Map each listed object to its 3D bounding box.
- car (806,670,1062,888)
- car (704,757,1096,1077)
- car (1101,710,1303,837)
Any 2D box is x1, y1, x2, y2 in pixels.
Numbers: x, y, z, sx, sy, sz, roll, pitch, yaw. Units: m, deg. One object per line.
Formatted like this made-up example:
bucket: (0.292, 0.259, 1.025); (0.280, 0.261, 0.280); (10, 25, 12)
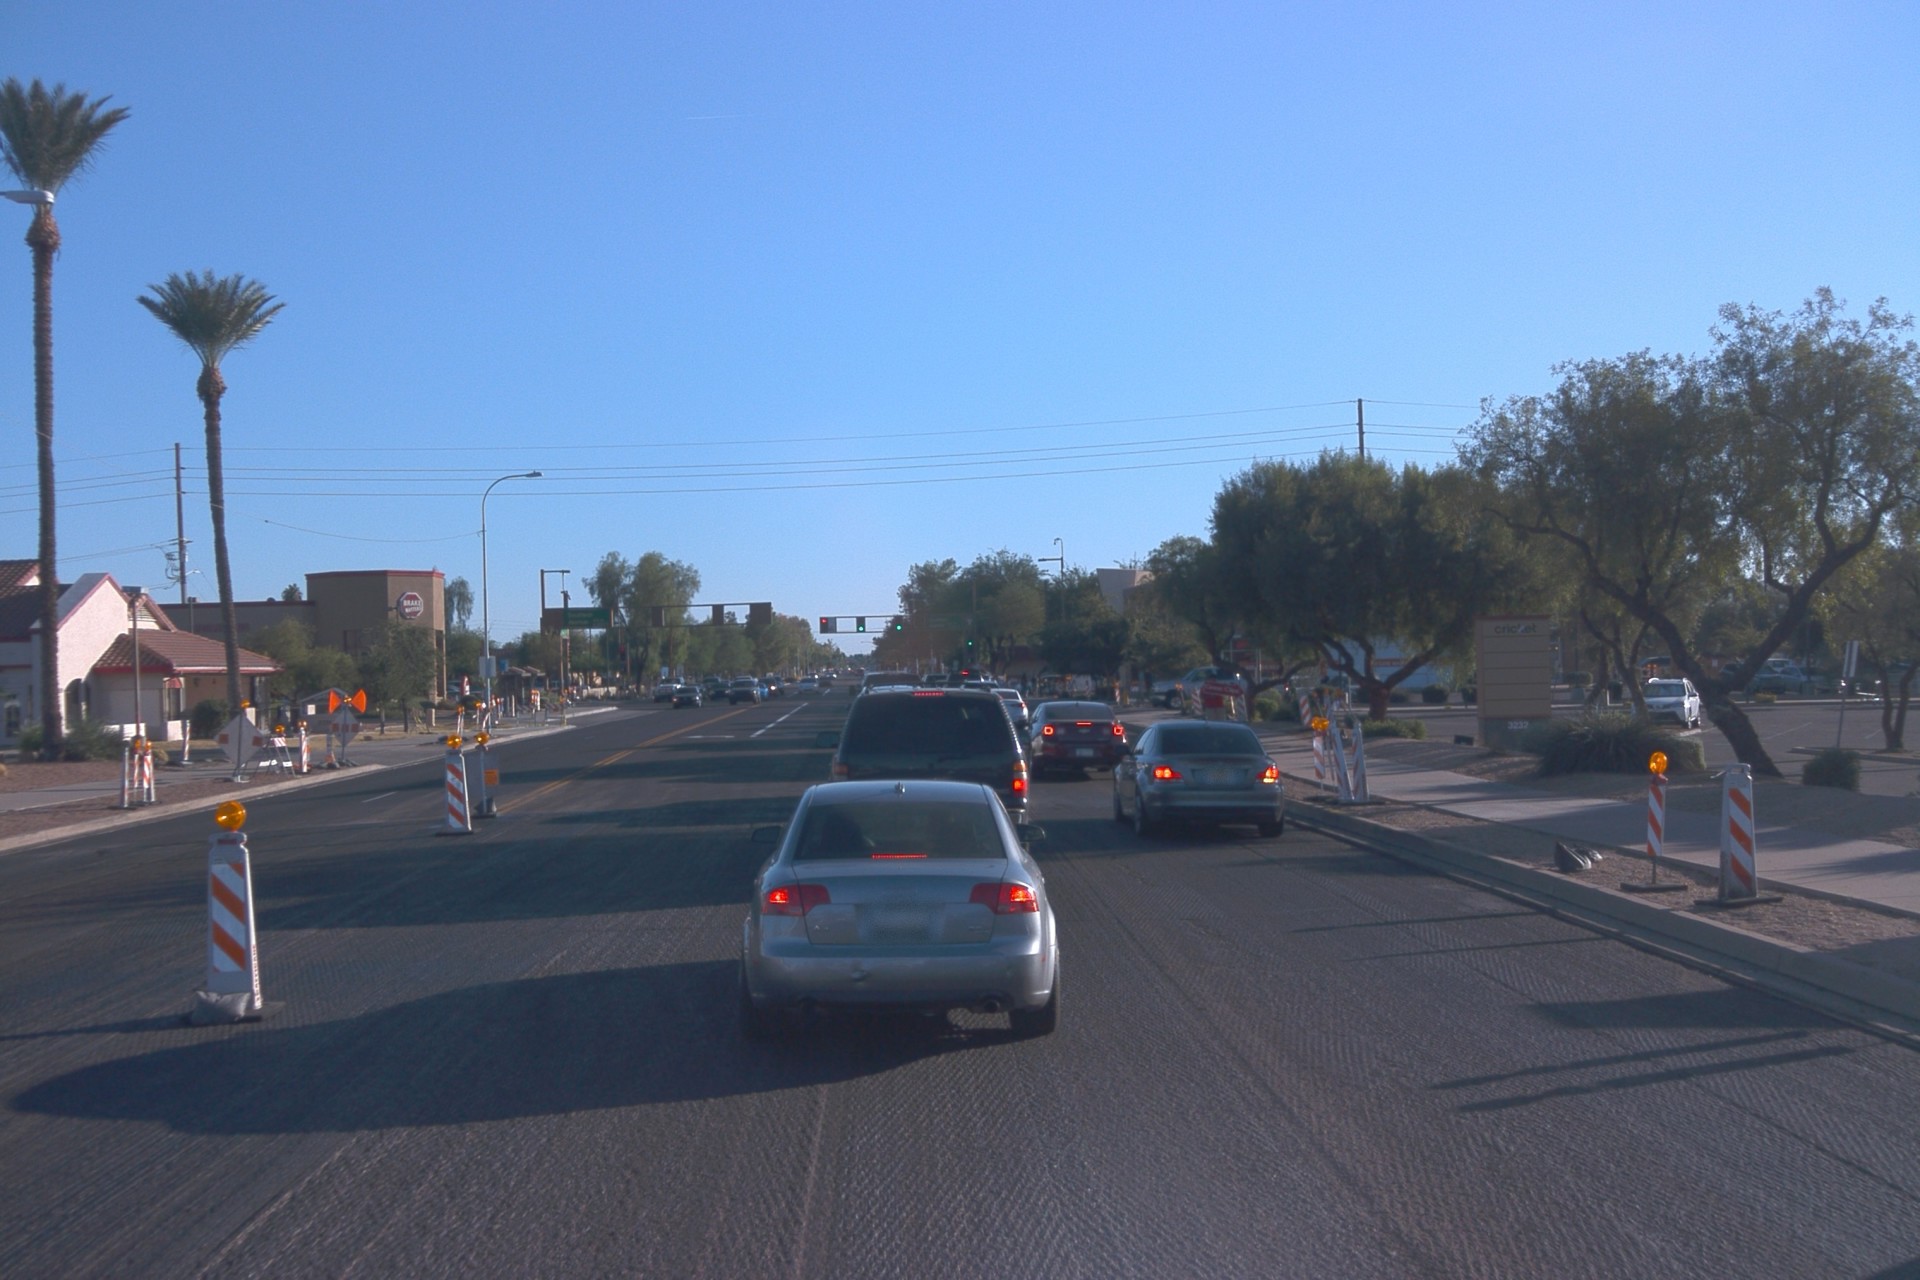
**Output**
car: (-0.362, 1.346, 22.051); (2.404, 2.040, 5.063); (0, -1, -3)
car: (-0.367, 1.558, 12.990); (2.033, 1.480, 4.404); (0, -1, -1)
car: (2.969, 1.629, 26.401); (1.991, 1.410, 4.328); (0, -1, -1)
